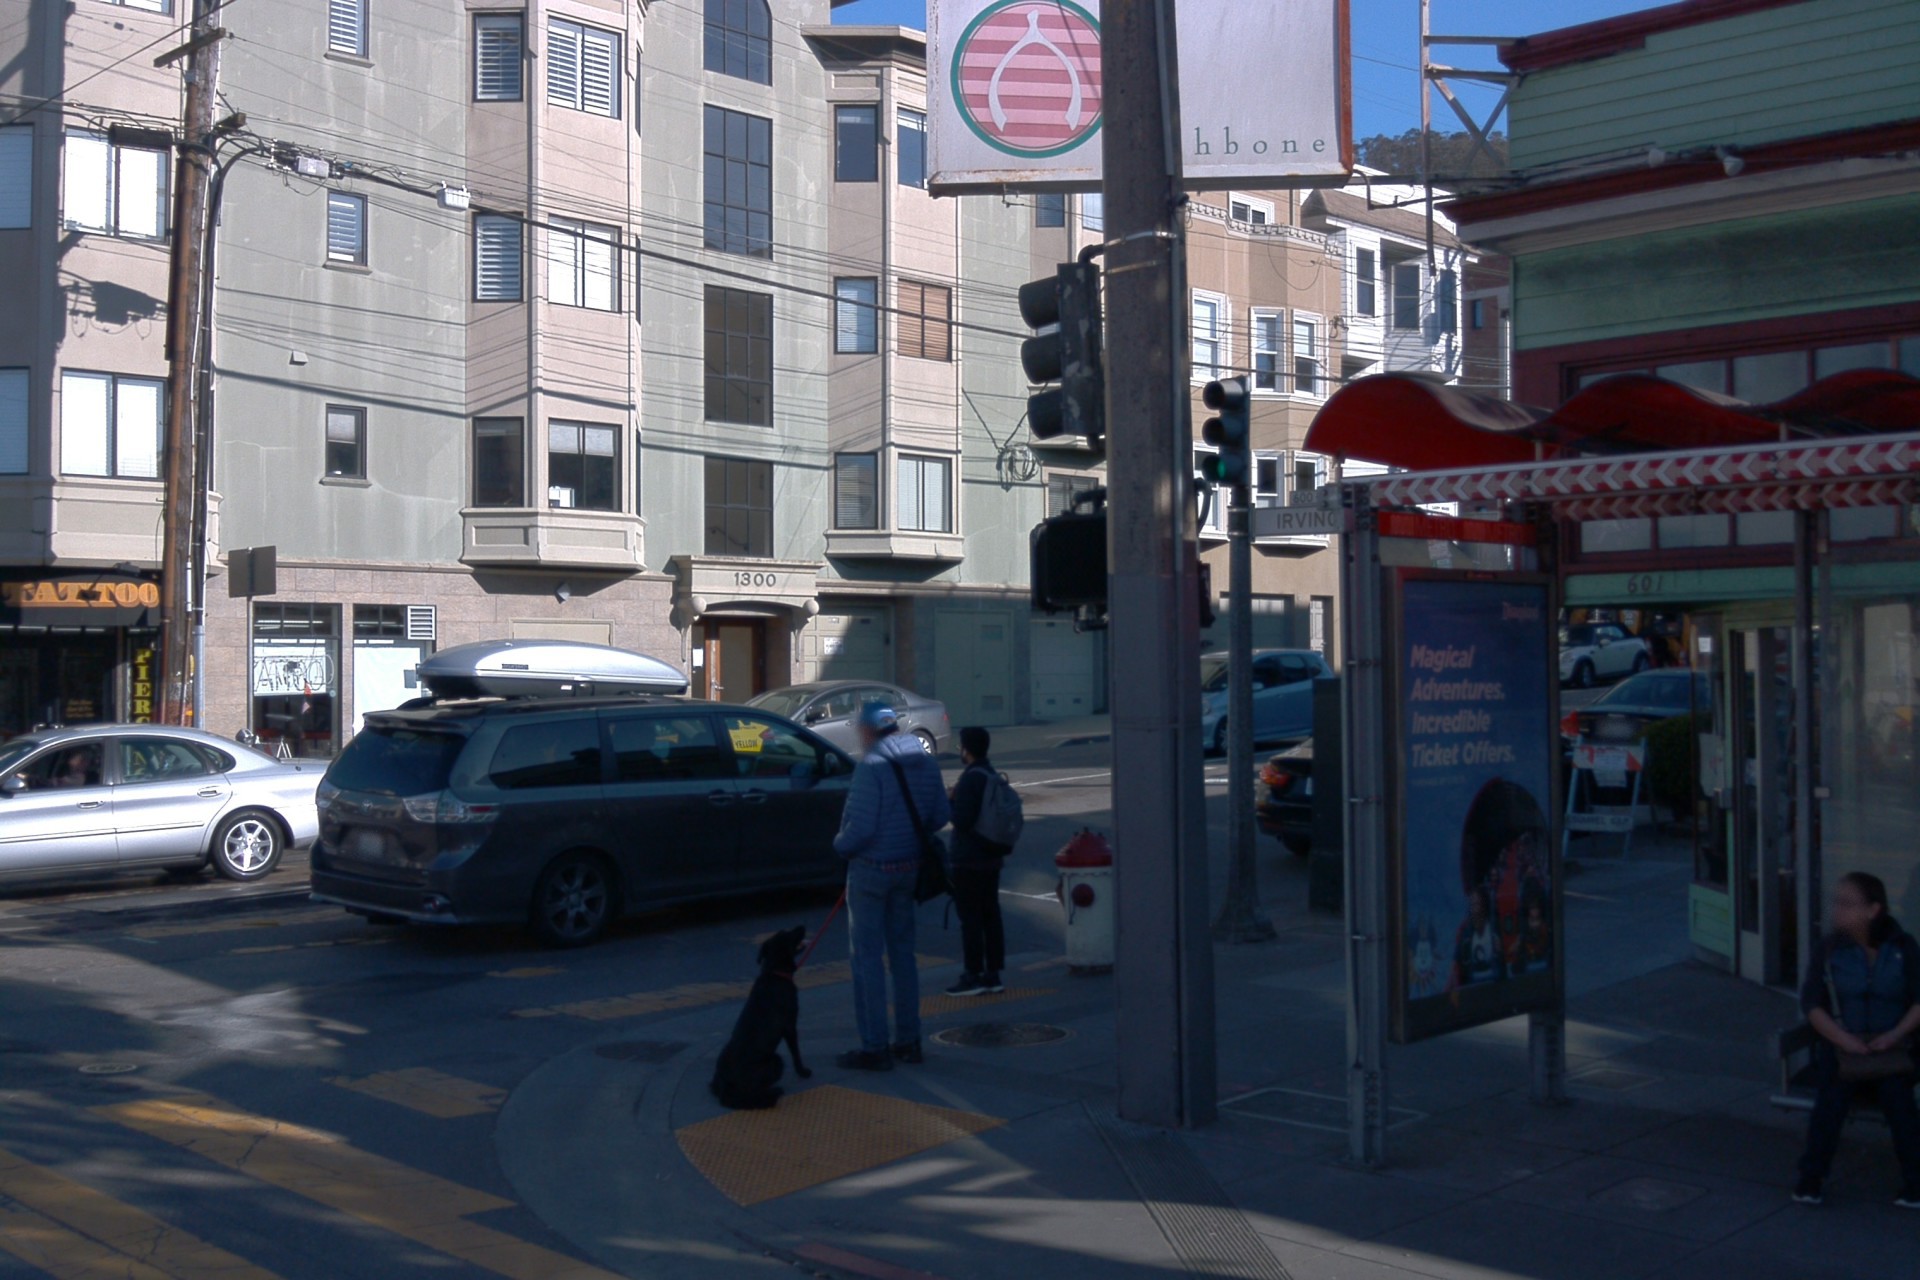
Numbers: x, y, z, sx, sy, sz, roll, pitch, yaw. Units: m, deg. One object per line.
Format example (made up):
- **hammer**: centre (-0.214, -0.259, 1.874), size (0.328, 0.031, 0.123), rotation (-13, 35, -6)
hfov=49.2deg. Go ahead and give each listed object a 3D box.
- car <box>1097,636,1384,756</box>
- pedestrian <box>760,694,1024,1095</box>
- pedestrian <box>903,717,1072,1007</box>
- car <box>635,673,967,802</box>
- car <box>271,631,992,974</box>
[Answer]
- **car**: centre (4.309, 0.808, 31.709), size (4.554, 1.680, 1.896), rotation (1, 0, -45)
- **pedestrian**: centre (-0.340, 1.214, 10.507), size (0.894, 1.860, 0.955), rotation (1, 0, 42)
- **pedestrian**: centre (0.168, 1.344, 13.044), size (0.687, 1.700, 0.778), rotation (0, 0, -43)
- **car**: centre (-2.214, 1.326, 30.144), size (2.102, 1.670, 4.524), rotation (0, 0, 43)
- **car**: centre (-2.407, 1.094, 16.555), size (2.415, 2.260, 5.236), rotation (1, 0, 43)
